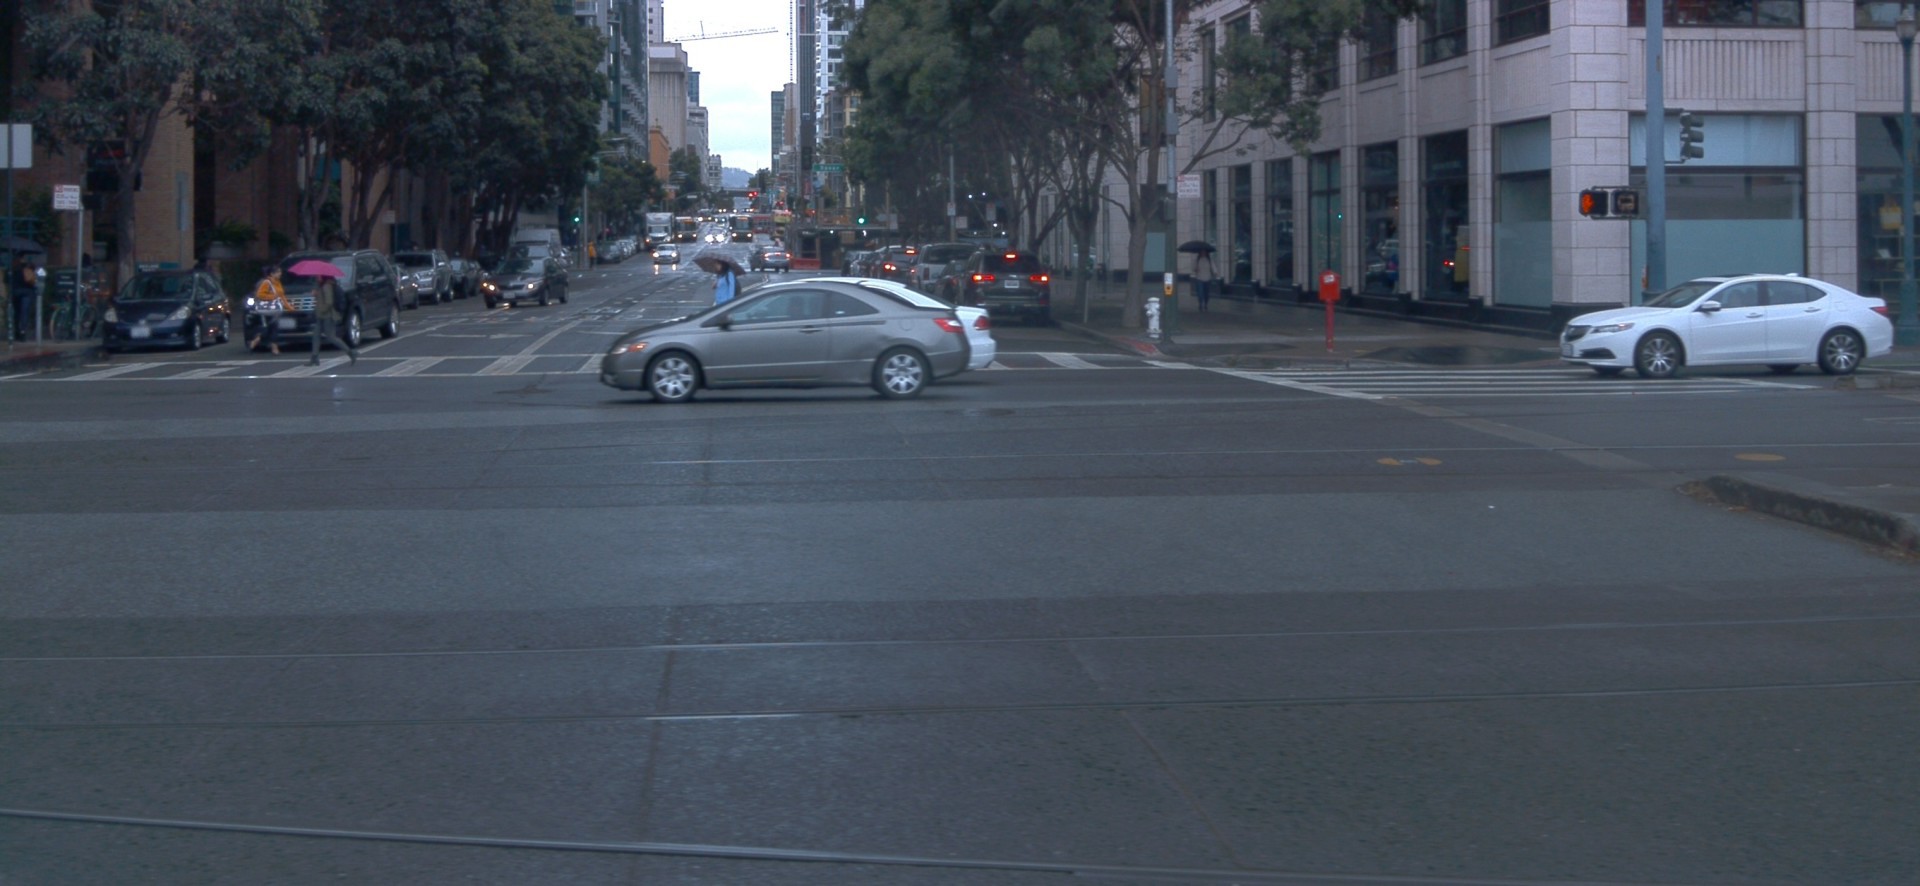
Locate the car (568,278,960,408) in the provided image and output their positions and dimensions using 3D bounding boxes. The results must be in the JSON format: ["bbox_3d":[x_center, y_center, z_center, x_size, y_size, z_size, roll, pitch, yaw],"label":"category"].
[{"bbox_3d":[-2.301,-1.203,24.114,4.360,1.377,1.941,-1,4,-8],"label":"car"}]

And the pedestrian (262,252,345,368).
[{"bbox_3d":[-10.490,-2.139,33.149,1.187,1.799,1.002,-1,2,-22],"label":"pedestrian"}]

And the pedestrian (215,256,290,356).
[{"bbox_3d":[-12.266,-2.393,35.978,0.953,1.689,0.922,0,1,2],"label":"pedestrian"}]

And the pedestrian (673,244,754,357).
[{"bbox_3d":[-4.214,-2.445,35.384,1.070,1.869,1.089,-1,2,-26],"label":"pedestrian"}]

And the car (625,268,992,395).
[{"bbox_3d":[-2.055,-1.540,27.820,4.722,1.576,2.056,-1,4,-7],"label":"car"}]
